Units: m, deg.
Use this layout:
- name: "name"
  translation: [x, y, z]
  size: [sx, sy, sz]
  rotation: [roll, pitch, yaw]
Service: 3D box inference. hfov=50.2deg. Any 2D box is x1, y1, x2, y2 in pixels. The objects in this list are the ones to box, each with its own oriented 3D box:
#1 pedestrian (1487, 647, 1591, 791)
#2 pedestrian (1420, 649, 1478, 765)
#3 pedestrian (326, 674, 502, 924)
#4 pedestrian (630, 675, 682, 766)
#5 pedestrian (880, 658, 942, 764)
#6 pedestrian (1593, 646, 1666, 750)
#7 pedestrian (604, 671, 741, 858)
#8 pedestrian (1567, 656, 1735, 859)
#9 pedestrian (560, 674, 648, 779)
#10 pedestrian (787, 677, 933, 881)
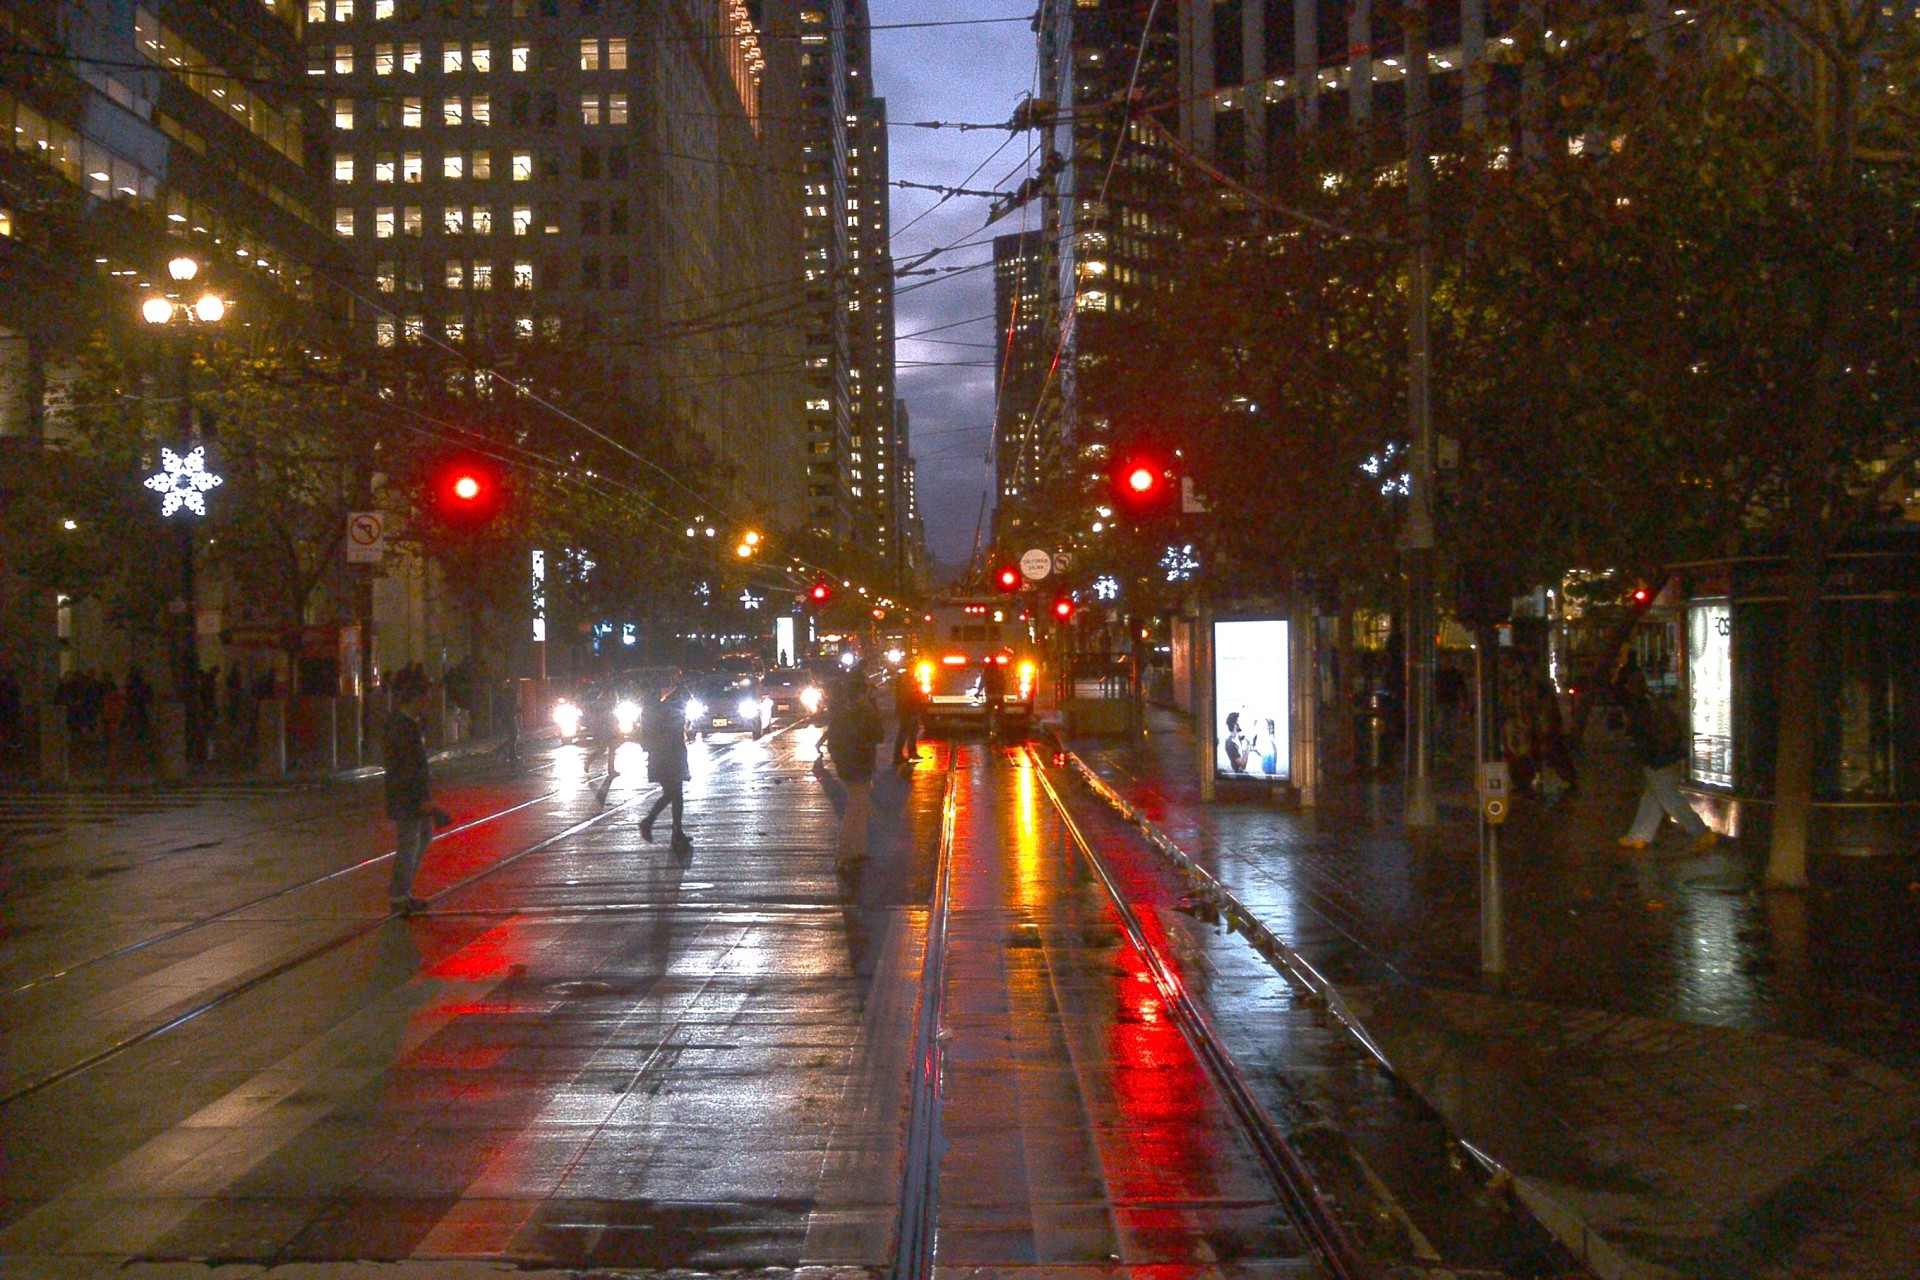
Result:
- name: "pedestrian"
  translation: [7.626, 1.022, 27.013]
  size: [0.971, 1.850, 0.908]
  rotation: [0, 0, -19]
- name: "pedestrian"
  translation: [7.760, 1.045, 32.522]
  size: [0.868, 1.800, 1.151]
  rotation: [0, 0, 12]
- name: "pedestrian"
  translation: [-4.458, 1.253, 16.698]
  size: [1.203, 1.940, 0.925]
  rotation: [0, 0, -27]
- name: "pedestrian"
  translation: [-5.541, 1.467, 37.320]
  size: [0.878, 1.630, 0.701]
  rotation: [0, 0, -3]
- name: "pedestrian"
  translation: [-0.878, 1.256, 36.588]
  size: [1.021, 1.860, 0.869]
  rotation: [0, 0, -7]
- name: "pedestrian"
  translation: [11.368, 0.969, 34.792]
  size: [0.858, 1.720, 1.182]
  rotation: [0, 0, 1]
- name: "pedestrian"
  translation: [-3.029, 1.284, 21.632]
  size: [0.782, 1.890, 1.218]
  rotation: [0, 0, 41]
- name: "pedestrian"
  translation: [6.303, 1.038, 18.719]
  size: [0.852, 1.780, 1.177]
  rotation: [0, 0, -37]
- name: "pedestrian"
  translation: [-5.964, 1.429, 34.376]
  size: [1.061, 1.710, 1.007]
  rotation: [0, 0, 28]
- name: "pedestrian"
  translation: [-0.937, 1.273, 19.257]
  size: [1.105, 1.830, 0.810]
  rotation: [0, 0, -42]
